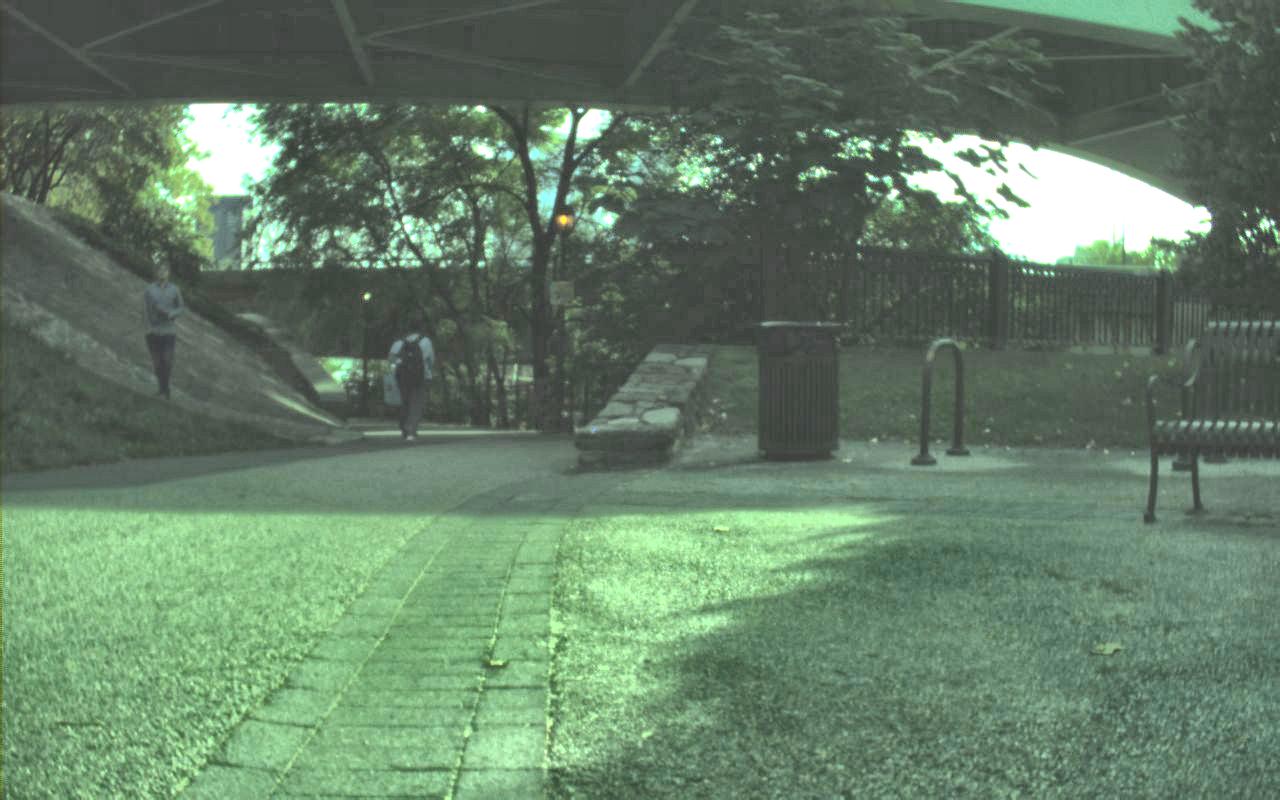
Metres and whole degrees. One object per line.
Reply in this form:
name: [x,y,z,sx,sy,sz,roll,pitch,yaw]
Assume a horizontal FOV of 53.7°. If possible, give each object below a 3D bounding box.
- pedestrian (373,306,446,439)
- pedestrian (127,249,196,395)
pedestrian: [-3.043,-0.359,16.474,0.856,1.702,0.871,0,0,-2]
pedestrian: [-6.272,-0.978,15.436,0.806,1.866,0.789,0,0,-13]
